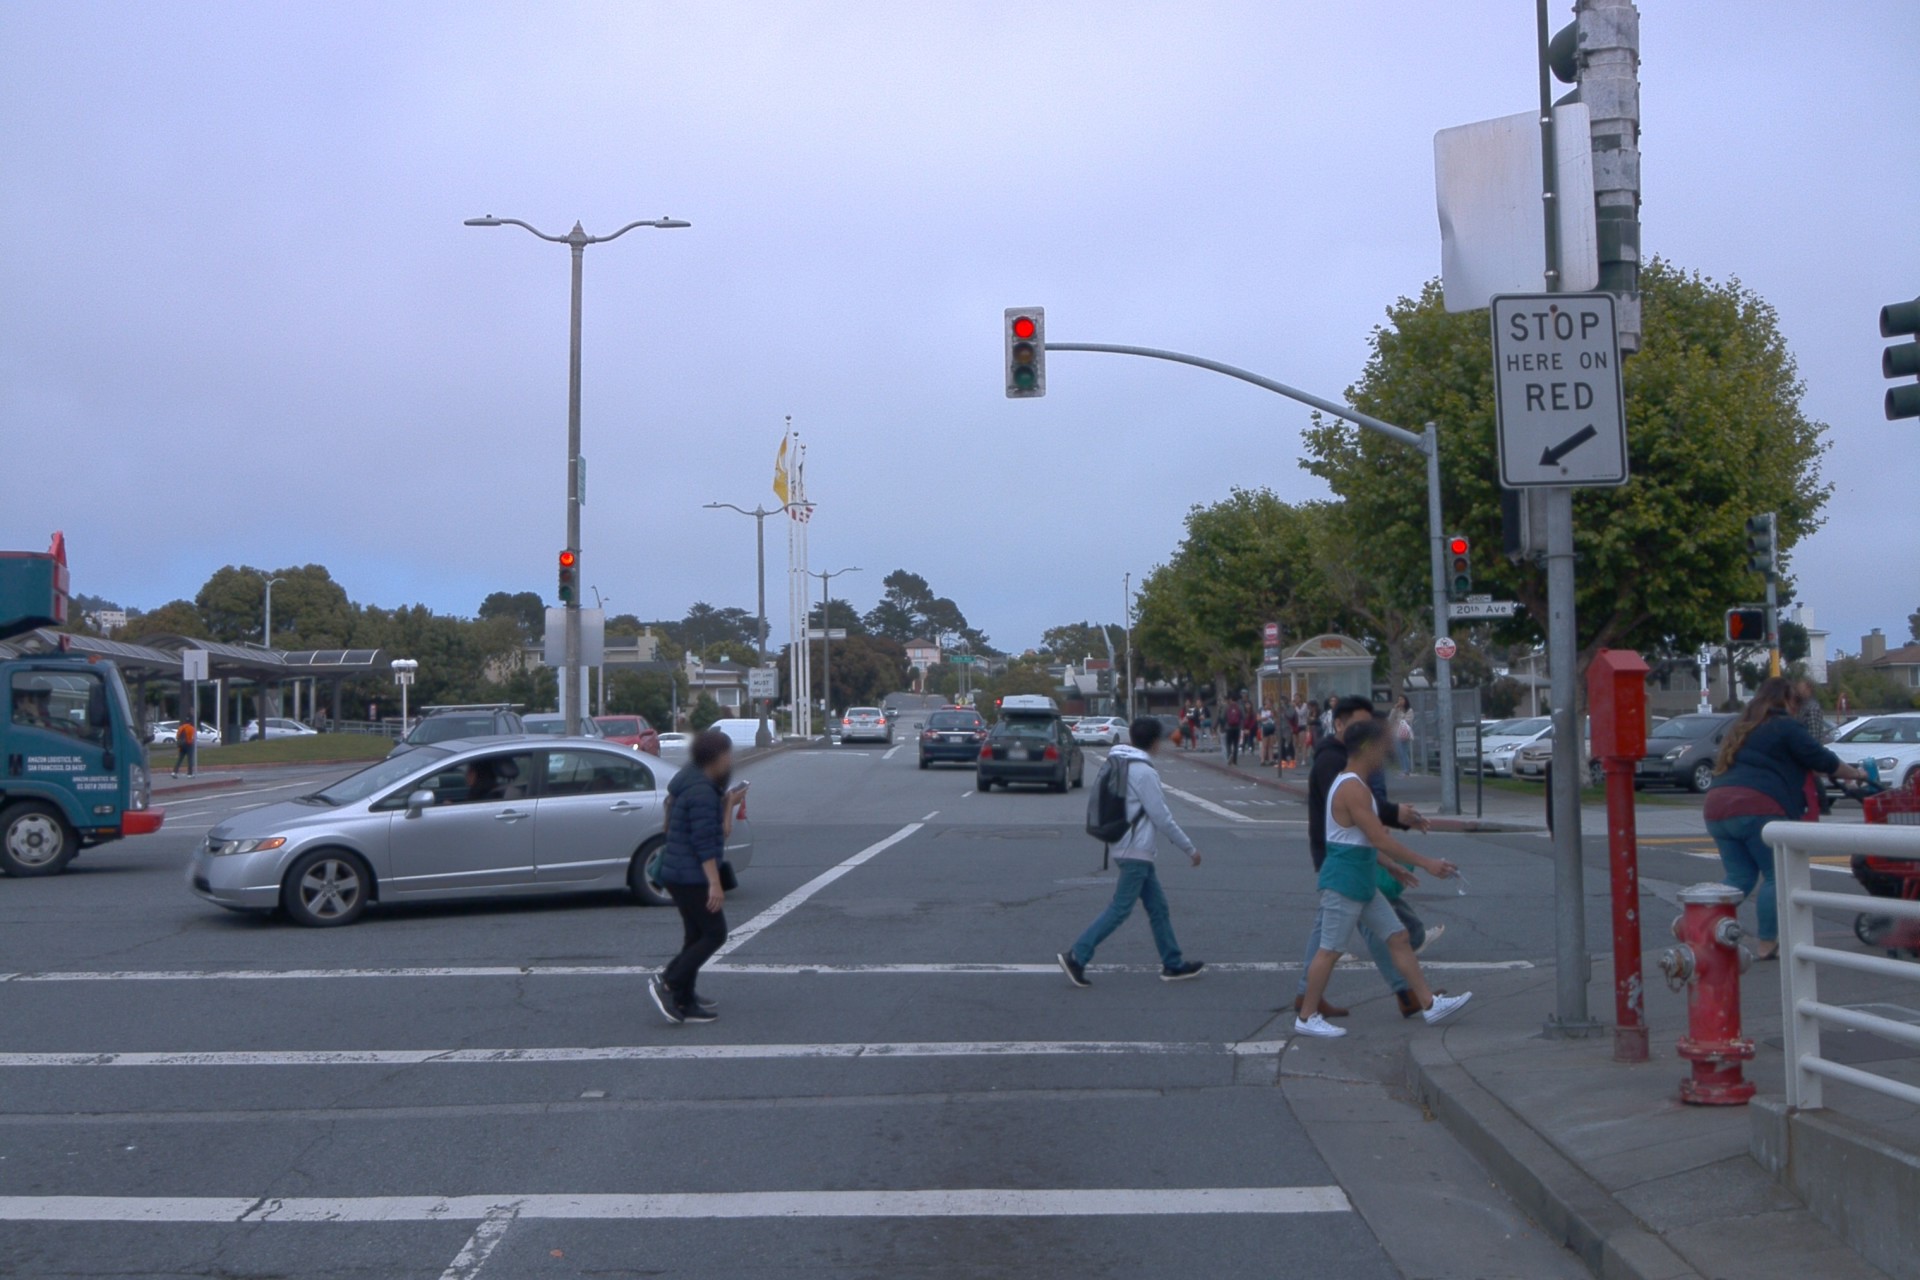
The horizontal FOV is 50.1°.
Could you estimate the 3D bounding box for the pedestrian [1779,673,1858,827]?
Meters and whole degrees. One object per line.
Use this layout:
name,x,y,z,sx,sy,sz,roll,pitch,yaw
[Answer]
pedestrian,10.944,1.384,26.217,0.739,1.900,0.621,-1,1,-34

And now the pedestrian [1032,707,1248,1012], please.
pedestrian,1.044,1.260,12.150,1.049,1.670,0.928,0,1,-11

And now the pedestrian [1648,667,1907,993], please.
pedestrian,4.534,1.022,11.440,1.128,1.710,0.707,0,1,-13

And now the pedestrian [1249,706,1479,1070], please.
pedestrian,2.009,1.181,10.166,1.016,1.670,0.736,0,1,20

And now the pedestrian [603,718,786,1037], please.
pedestrian,-1.444,1.279,11.279,0.963,1.660,0.601,0,1,-5

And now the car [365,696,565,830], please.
car,-8.231,1.995,34.632,2.080,1.920,4.561,0,1,3

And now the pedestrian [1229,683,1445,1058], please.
pedestrian,2.002,1.158,10.823,1.007,1.830,0.936,0,1,18

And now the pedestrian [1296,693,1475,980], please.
pedestrian,2.661,1.207,12.904,0.940,1.720,0.669,0,1,-5

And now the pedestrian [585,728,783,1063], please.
pedestrian,-1.438,1.312,10.793,0.993,1.650,0.667,0,1,-6

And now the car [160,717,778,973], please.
car,-3.952,1.543,16.668,4.468,1.620,2.032,-1,1,-29
